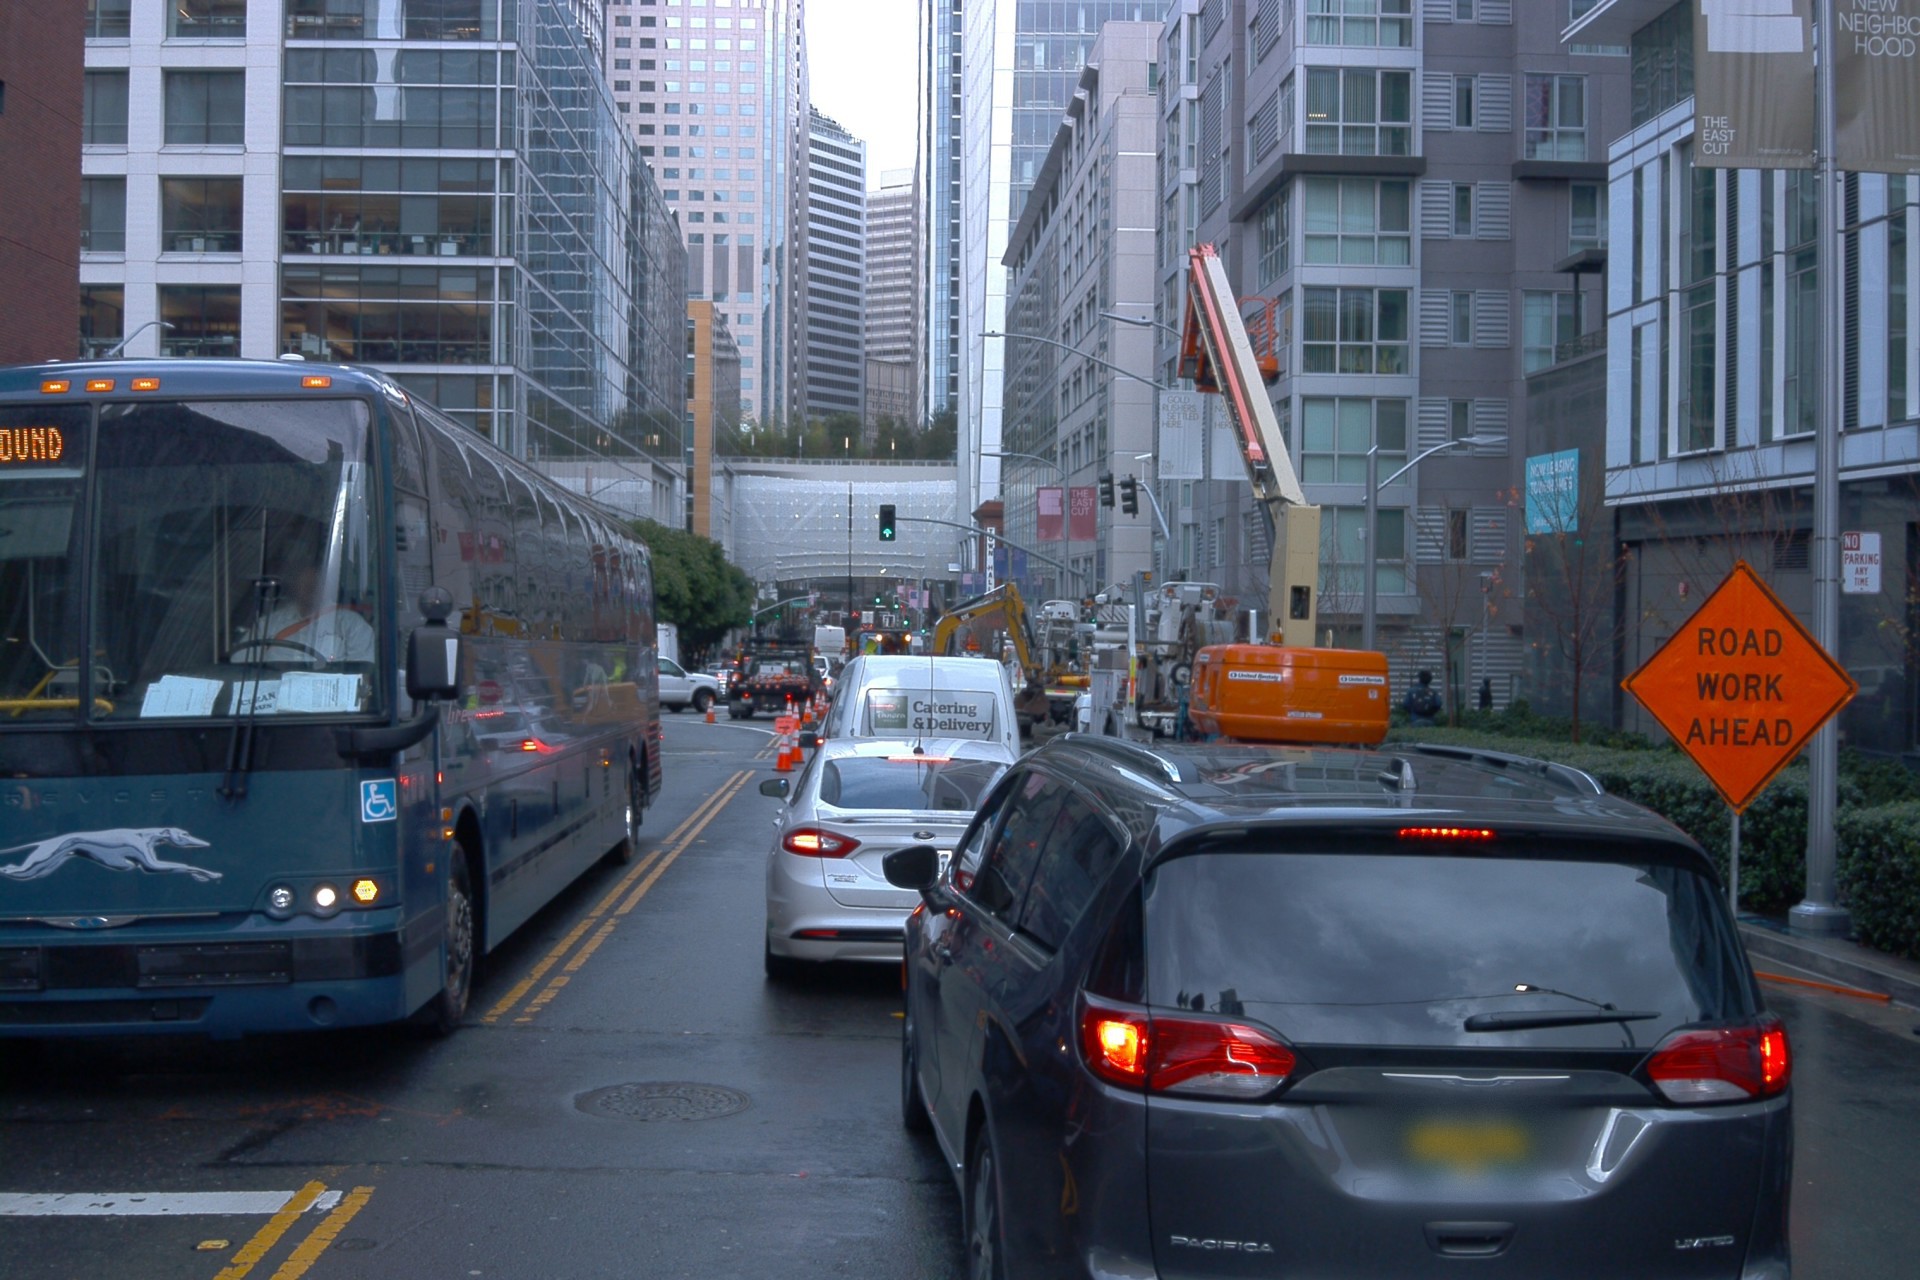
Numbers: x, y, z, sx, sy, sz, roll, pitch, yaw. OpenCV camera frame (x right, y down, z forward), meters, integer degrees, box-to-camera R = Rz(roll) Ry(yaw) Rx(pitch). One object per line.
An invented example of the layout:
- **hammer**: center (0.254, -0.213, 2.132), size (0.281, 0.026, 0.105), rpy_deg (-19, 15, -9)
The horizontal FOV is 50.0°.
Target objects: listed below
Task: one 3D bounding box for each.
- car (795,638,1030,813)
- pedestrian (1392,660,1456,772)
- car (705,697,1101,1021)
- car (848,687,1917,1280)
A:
- **car**: center (-0.541, 0.740, 19.496), size (1.860, 1.470, 3.431), rpy_deg (1, 1, -7)
- **pedestrian**: center (7.829, 1.274, 34.811), size (0.833, 1.833, 0.889), rpy_deg (1, 0, -1)
- **car**: center (-0.376, 1.280, 13.814), size (2.164, 1.580, 4.901), rpy_deg (1, 1, -1)
- **car**: center (0.803, 1.120, 6.800), size (2.058, 1.750, 4.787), rpy_deg (1, 1, -6)
